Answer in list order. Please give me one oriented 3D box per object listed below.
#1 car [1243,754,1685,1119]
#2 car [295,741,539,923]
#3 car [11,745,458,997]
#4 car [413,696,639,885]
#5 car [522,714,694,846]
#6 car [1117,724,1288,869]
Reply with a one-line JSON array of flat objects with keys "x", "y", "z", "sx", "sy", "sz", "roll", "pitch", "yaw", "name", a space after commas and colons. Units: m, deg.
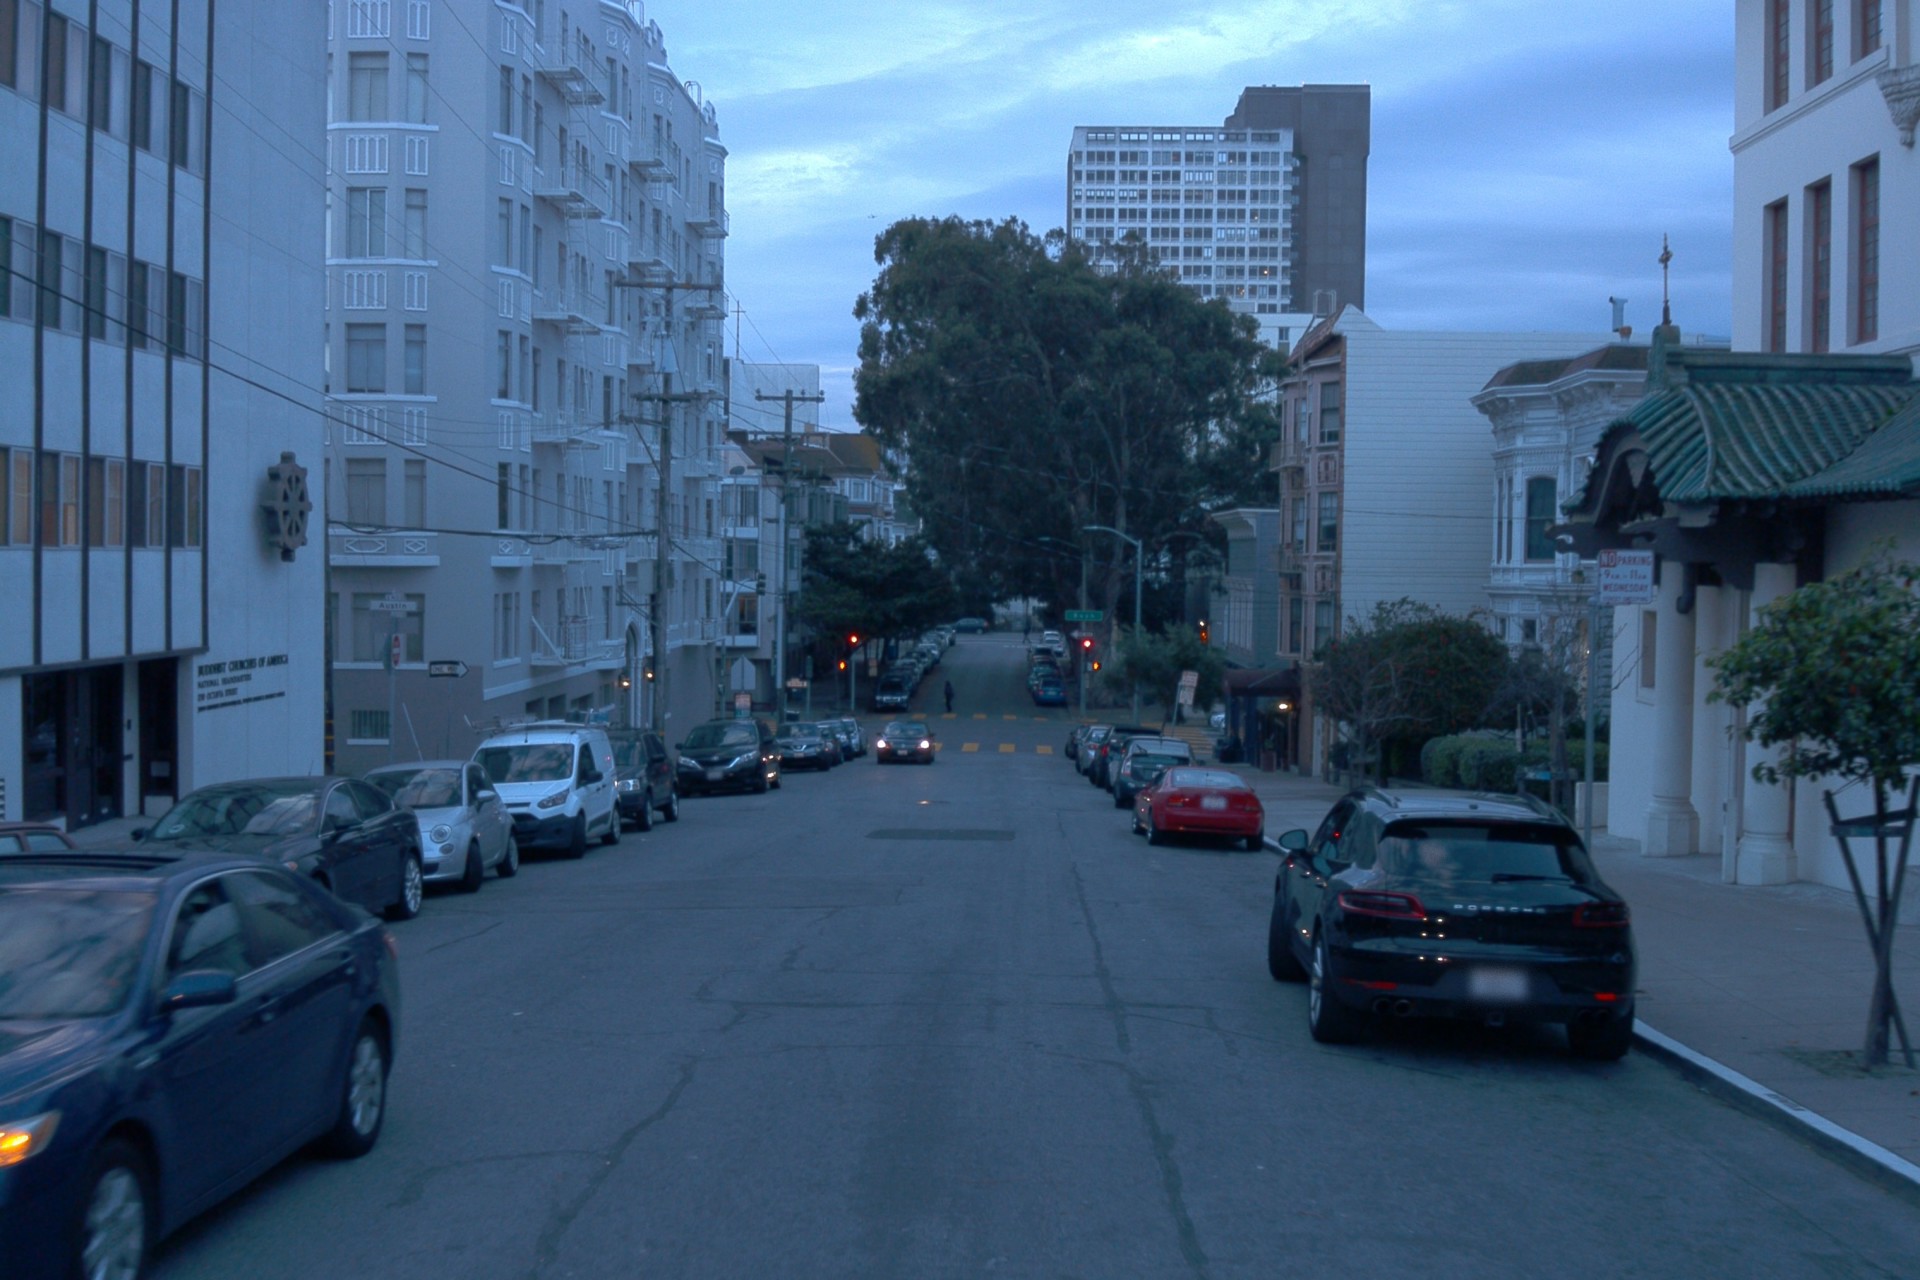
[{"x": 3.280, "y": 1.868, "z": 14.460, "sx": 2.189, "sy": 1.760, "sz": 4.713, "roll": 1, "pitch": 1, "yaw": 4, "name": "car"}, {"x": -6.167, "y": 2.137, "z": 23.750, "sx": 1.878, "sy": 1.680, "sz": 3.537, "roll": 1, "pitch": 1, "yaw": 0, "name": "car"}, {"x": -6.288, "y": 1.930, "z": 18.542, "sx": 2.216, "sy": 1.610, "sz": 4.826, "roll": 1, "pitch": 1, "yaw": 1, "name": "car"}, {"x": -6.045, "y": 2.030, "z": 29.188, "sx": 2.165, "sy": 2.250, "sz": 4.373, "roll": 1, "pitch": 1, "yaw": 1, "name": "car"}, {"x": -5.931, "y": 2.327, "z": 35.223, "sx": 2.094, "sy": 1.830, "sz": 4.515, "roll": 1, "pitch": 1, "yaw": 1, "name": "car"}, {"x": 3.832, "y": 2.459, "z": 33.300, "sx": 2.118, "sy": 1.890, "sz": 4.539, "roll": 1, "pitch": 1, "yaw": -1, "name": "car"}]
